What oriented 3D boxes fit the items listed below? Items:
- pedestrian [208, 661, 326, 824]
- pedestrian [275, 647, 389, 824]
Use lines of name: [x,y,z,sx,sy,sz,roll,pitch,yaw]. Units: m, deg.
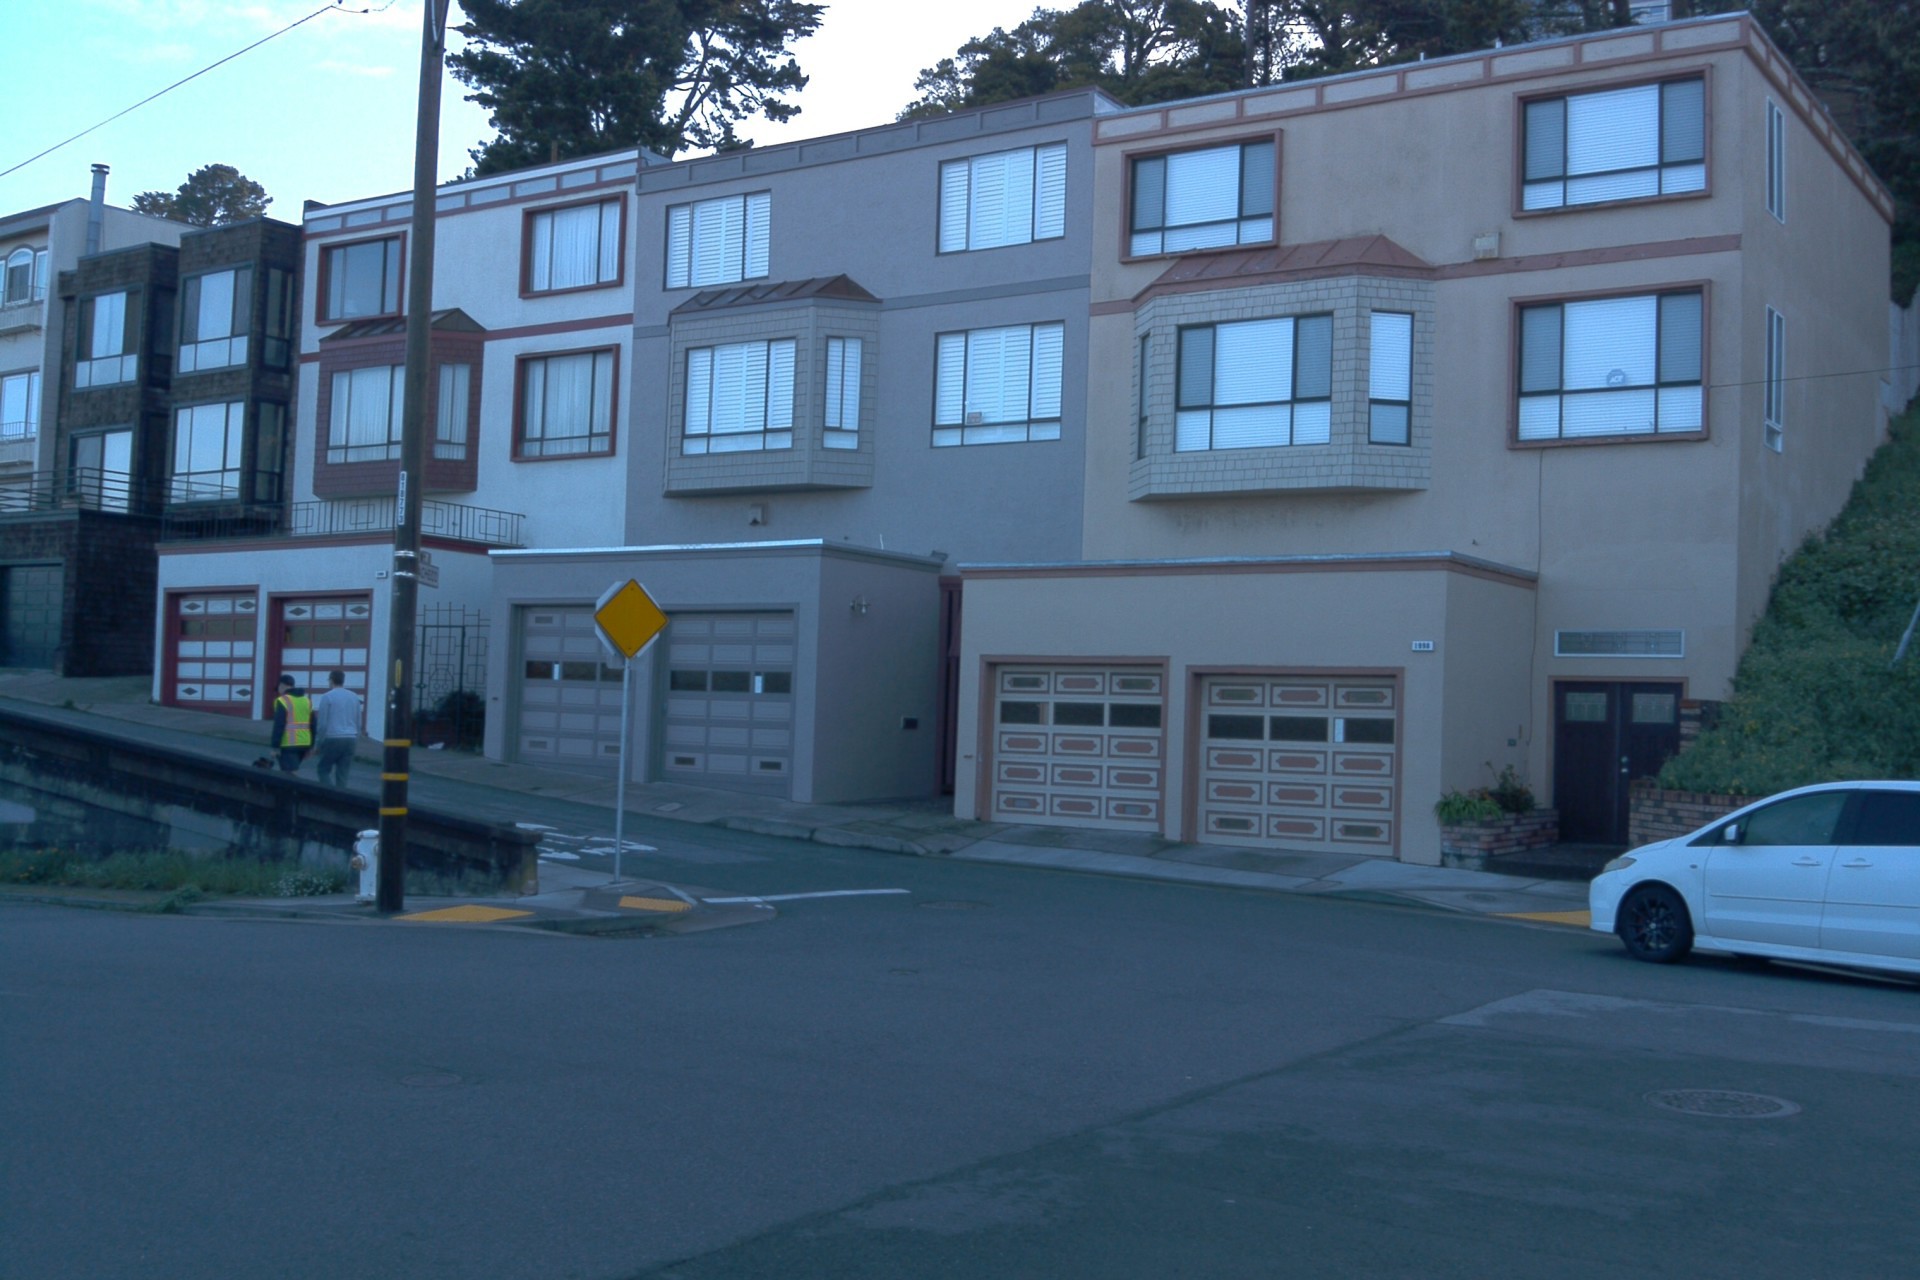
pedestrian: [-7.863,1.136,23.277,0.810,1.770,0.967,1,1,34]
pedestrian: [-7.330,1.086,23.928,1.039,1.980,0.842,1,1,40]
